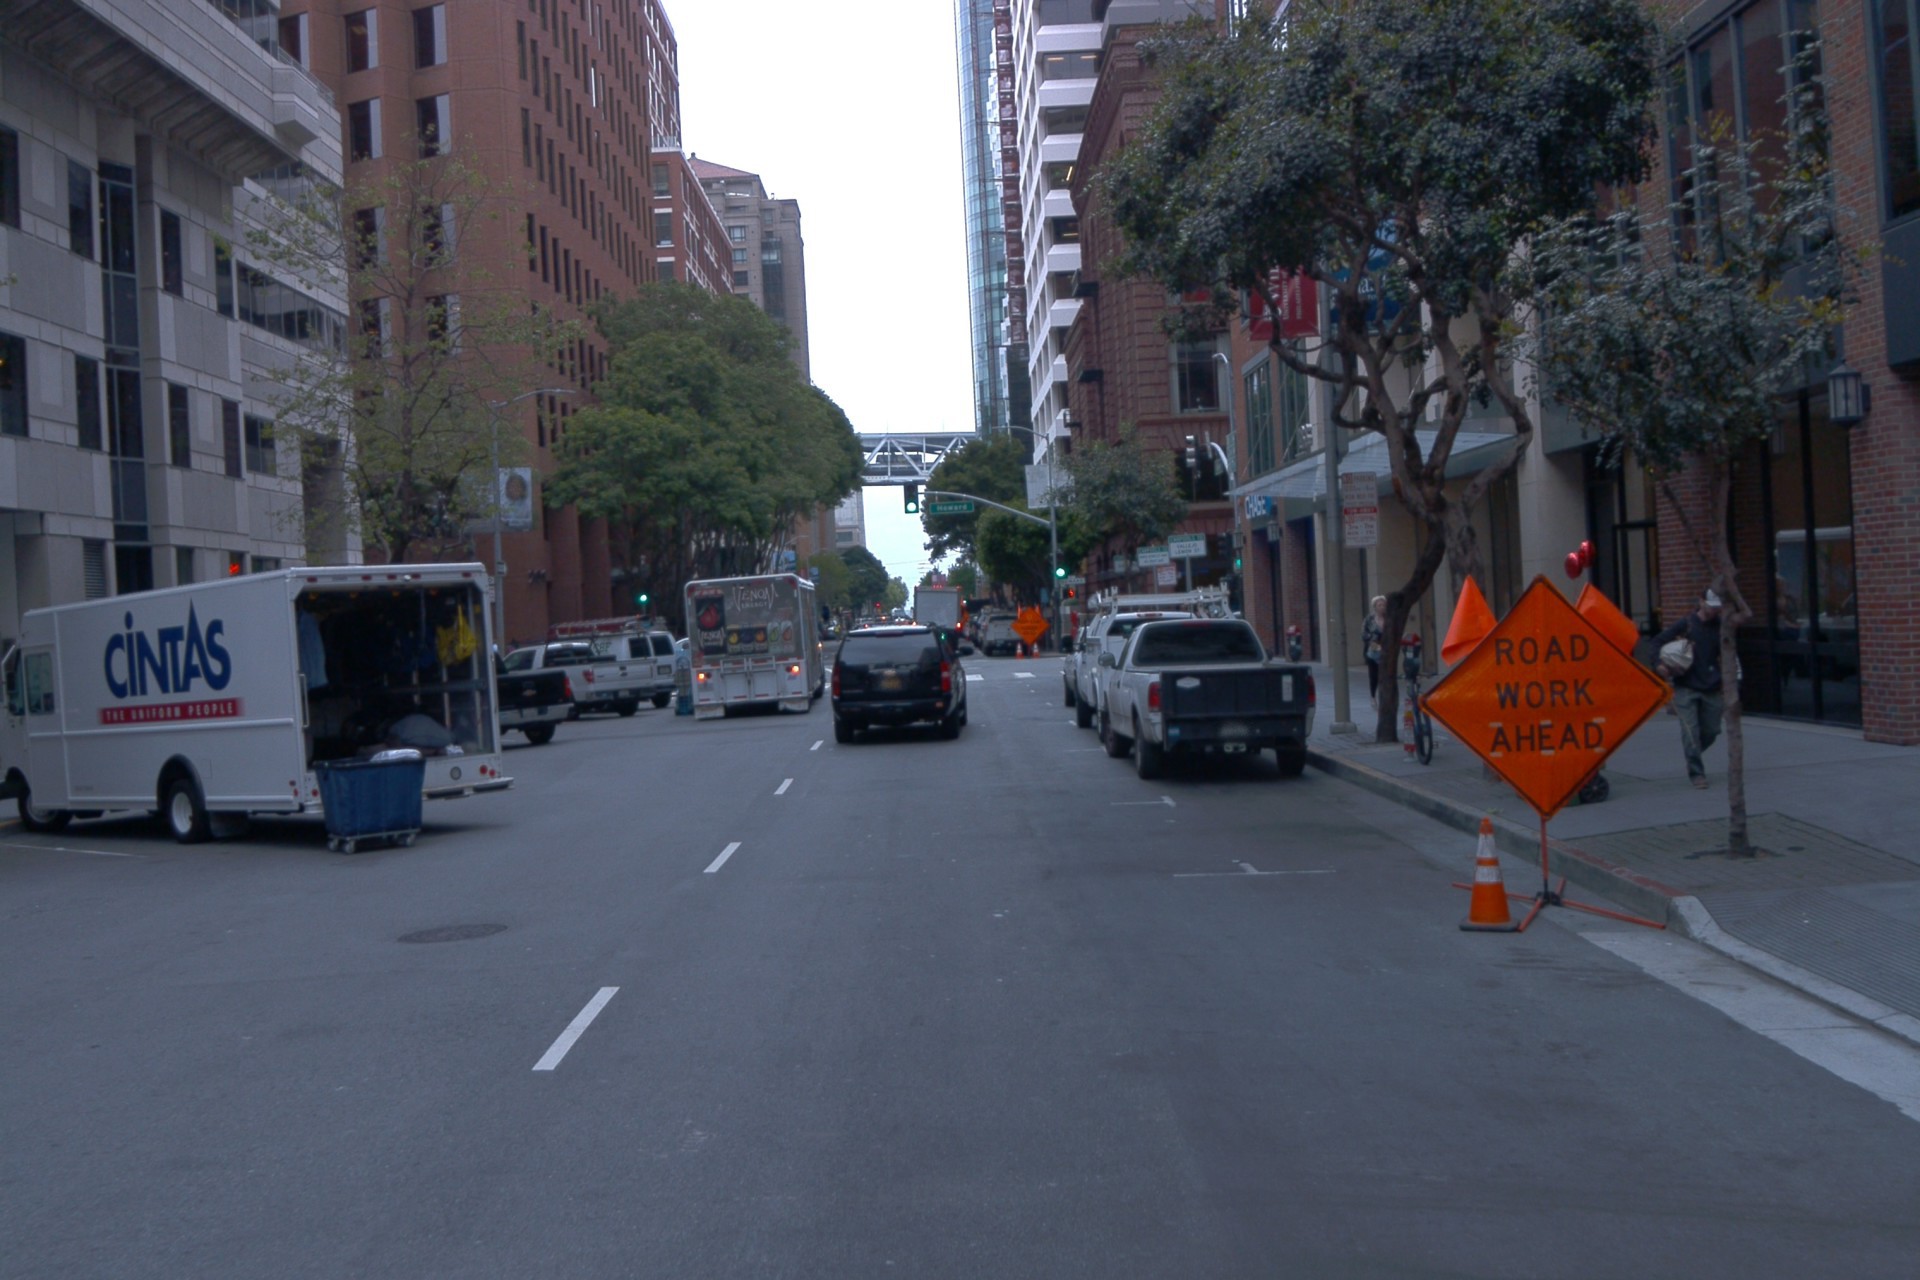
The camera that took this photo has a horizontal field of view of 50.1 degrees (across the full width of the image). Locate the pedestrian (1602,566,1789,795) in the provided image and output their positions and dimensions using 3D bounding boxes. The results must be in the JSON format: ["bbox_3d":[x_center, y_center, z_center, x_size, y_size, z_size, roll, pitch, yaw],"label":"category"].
[{"bbox_3d":[6.277,0.326,17.624,1.119,1.882,1.324,0,1,0],"label":"pedestrian"}]

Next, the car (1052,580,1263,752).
[{"bbox_3d":[2.915,0.320,32.033,2.554,2.400,6.423,0,1,-1],"label":"car"}]

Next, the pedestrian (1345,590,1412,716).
[{"bbox_3d":[6.181,0.183,30.379,0.735,1.820,0.913,0,1,-5],"label":"pedestrian"}]

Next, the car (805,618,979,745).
[{"bbox_3d":[-1.012,0.609,34.344,2.450,1.929,5.811,0,1,3],"label":"car"}]

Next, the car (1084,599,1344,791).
[{"bbox_3d":[2.971,0.568,25.537,2.321,2.100,5.868,0,1,-2],"label":"car"}]
